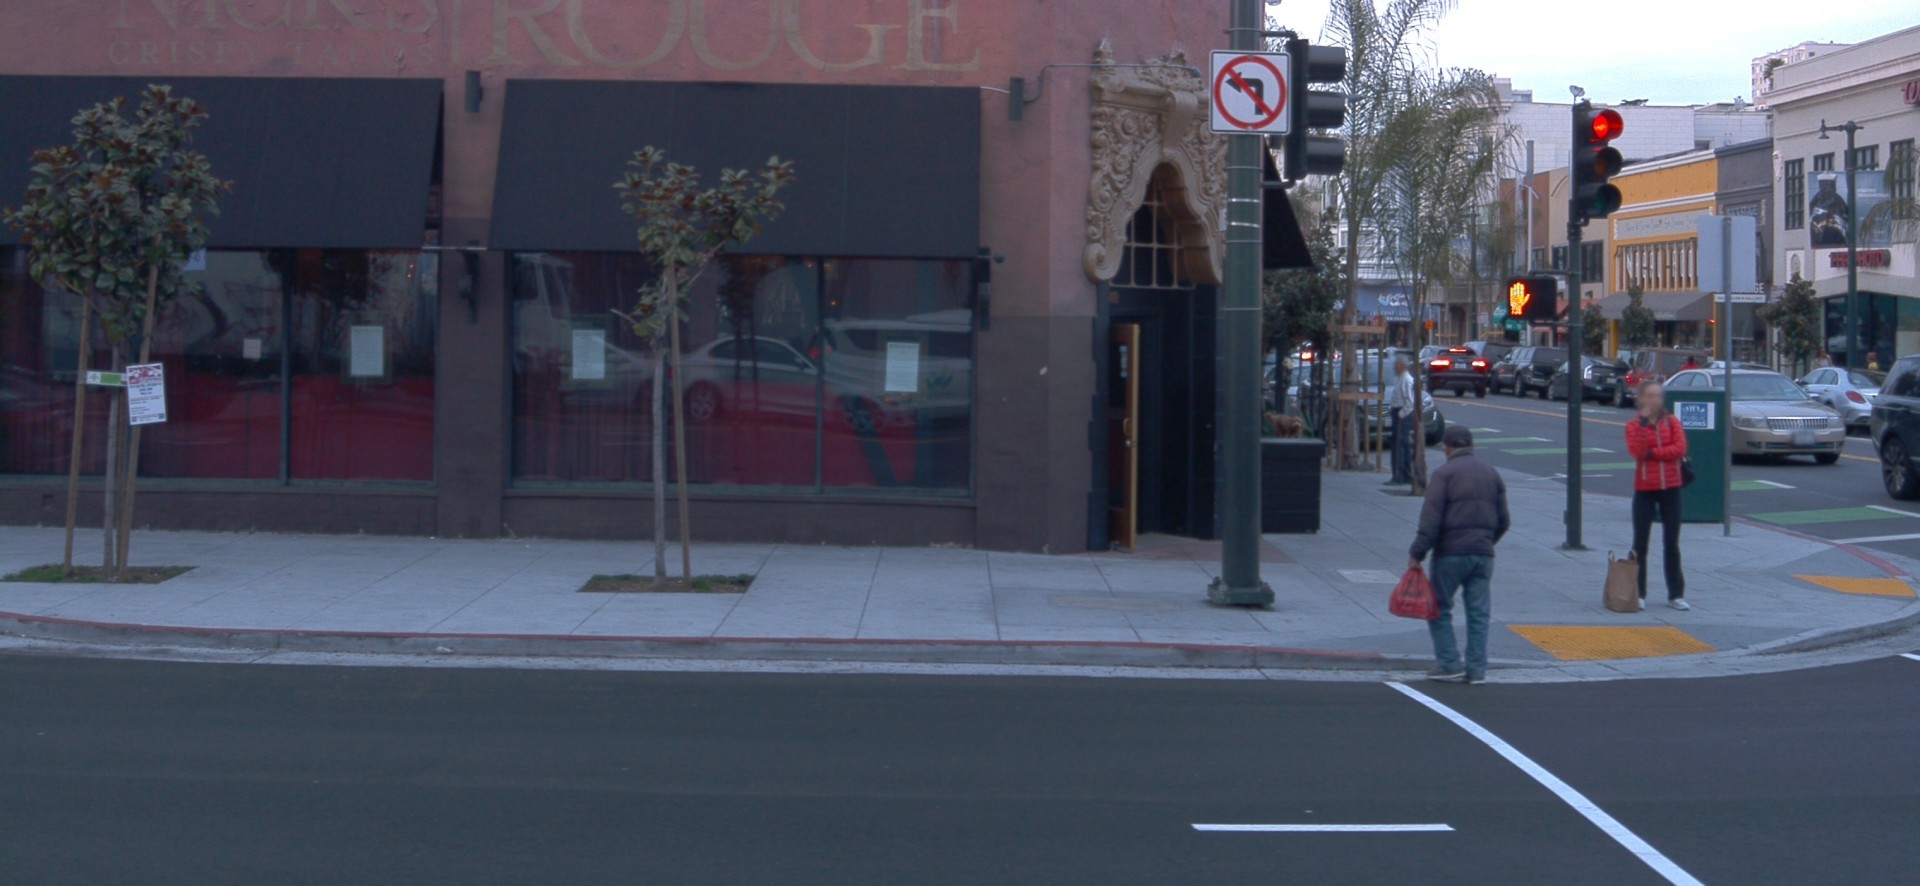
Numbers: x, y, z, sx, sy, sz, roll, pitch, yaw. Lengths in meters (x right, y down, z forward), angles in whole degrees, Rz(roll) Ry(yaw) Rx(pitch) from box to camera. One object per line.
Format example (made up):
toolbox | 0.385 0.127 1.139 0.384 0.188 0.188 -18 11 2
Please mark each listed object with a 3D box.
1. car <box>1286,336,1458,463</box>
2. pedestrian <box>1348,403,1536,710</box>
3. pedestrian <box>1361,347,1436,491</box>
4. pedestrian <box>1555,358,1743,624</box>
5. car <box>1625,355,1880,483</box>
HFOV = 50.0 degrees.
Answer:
car | 7.570 -0.886 38.330 2.175 1.910 4.798 0 6 -1
pedestrian | 2.864 0.644 12.323 0.854 1.676 0.920 0 3 -4
pedestrian | 5.609 -0.327 26.398 0.882 1.726 1.028 1 3 10
pedestrian | 5.144 0.330 15.434 1.068 1.874 0.867 0 2 -5
car | 12.191 -0.448 32.086 2.078 1.472 4.879 0 6 0
